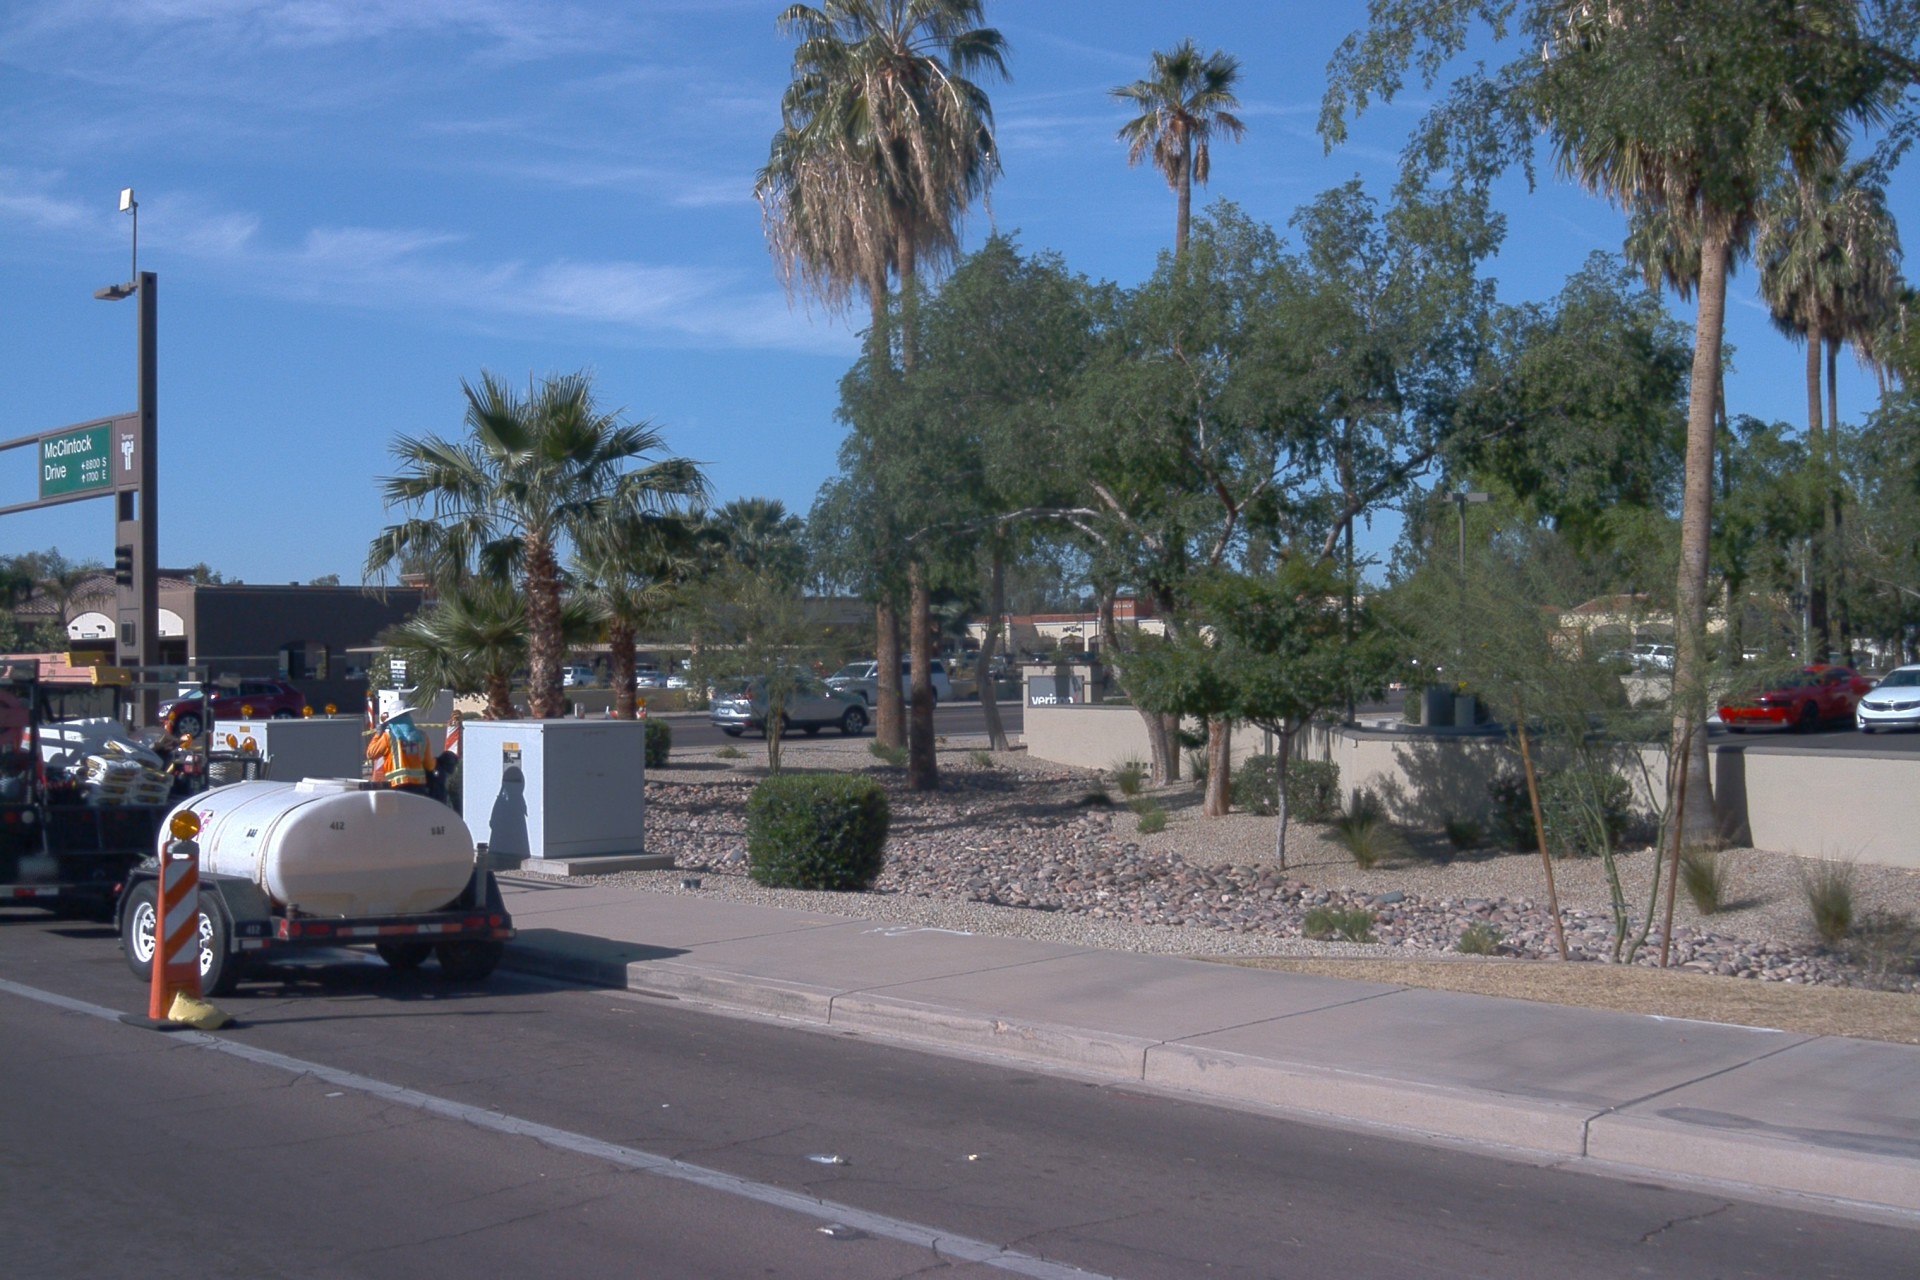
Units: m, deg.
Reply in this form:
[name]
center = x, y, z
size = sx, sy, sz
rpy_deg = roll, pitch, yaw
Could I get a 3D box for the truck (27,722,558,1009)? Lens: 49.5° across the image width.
[truck]
center = -4.909, 1.487, 15.082
size = 2.324, 1.660, 3.665
rpy_deg = 0, -1, -43

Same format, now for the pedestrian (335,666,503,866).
[pedestrian]
center = -5.371, 1.217, 20.705
size = 0.994, 1.910, 1.285
rpy_deg = 0, 0, 34
